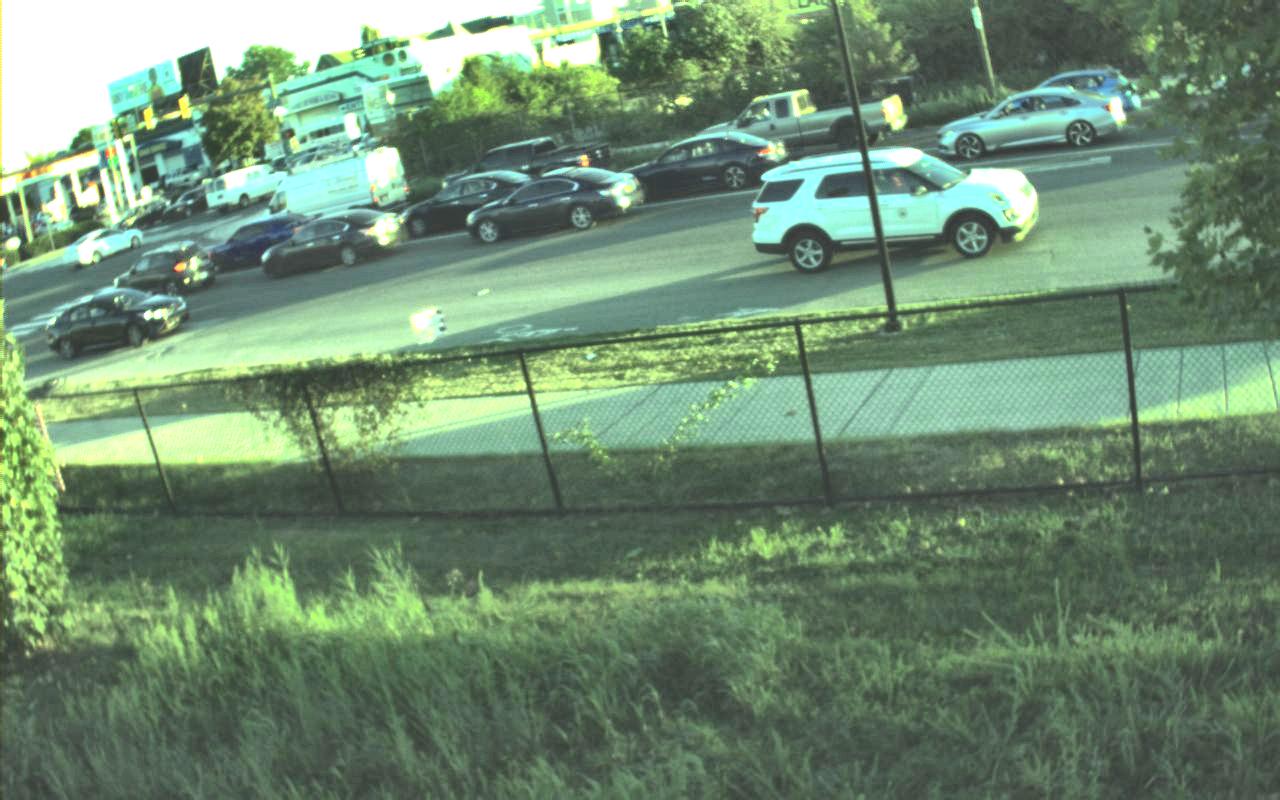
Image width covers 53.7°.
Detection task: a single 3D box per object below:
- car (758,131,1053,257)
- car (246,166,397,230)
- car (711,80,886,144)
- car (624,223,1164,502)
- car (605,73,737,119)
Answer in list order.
[{"bbox_3d":[4.573,-3.561,20.902,4.795,1.682,2.062,6,17,22],"label":"car"},{"bbox_3d":[-11.365,-7.172,43.225,5.143,1.934,2.175,6,17,22],"label":"car"},{"bbox_3d":[4.570,-8.298,35.469,4.667,1.635,2.010,6,17,24],"label":"car"},{"bbox_3d":[2.436,-0.499,11.560,4.719,1.711,2.075,7,18,27],"label":"car"},{"bbox_3d":[1.223,-11.967,48.773,4.775,1.714,2.073,5,17,21],"label":"car"}]
